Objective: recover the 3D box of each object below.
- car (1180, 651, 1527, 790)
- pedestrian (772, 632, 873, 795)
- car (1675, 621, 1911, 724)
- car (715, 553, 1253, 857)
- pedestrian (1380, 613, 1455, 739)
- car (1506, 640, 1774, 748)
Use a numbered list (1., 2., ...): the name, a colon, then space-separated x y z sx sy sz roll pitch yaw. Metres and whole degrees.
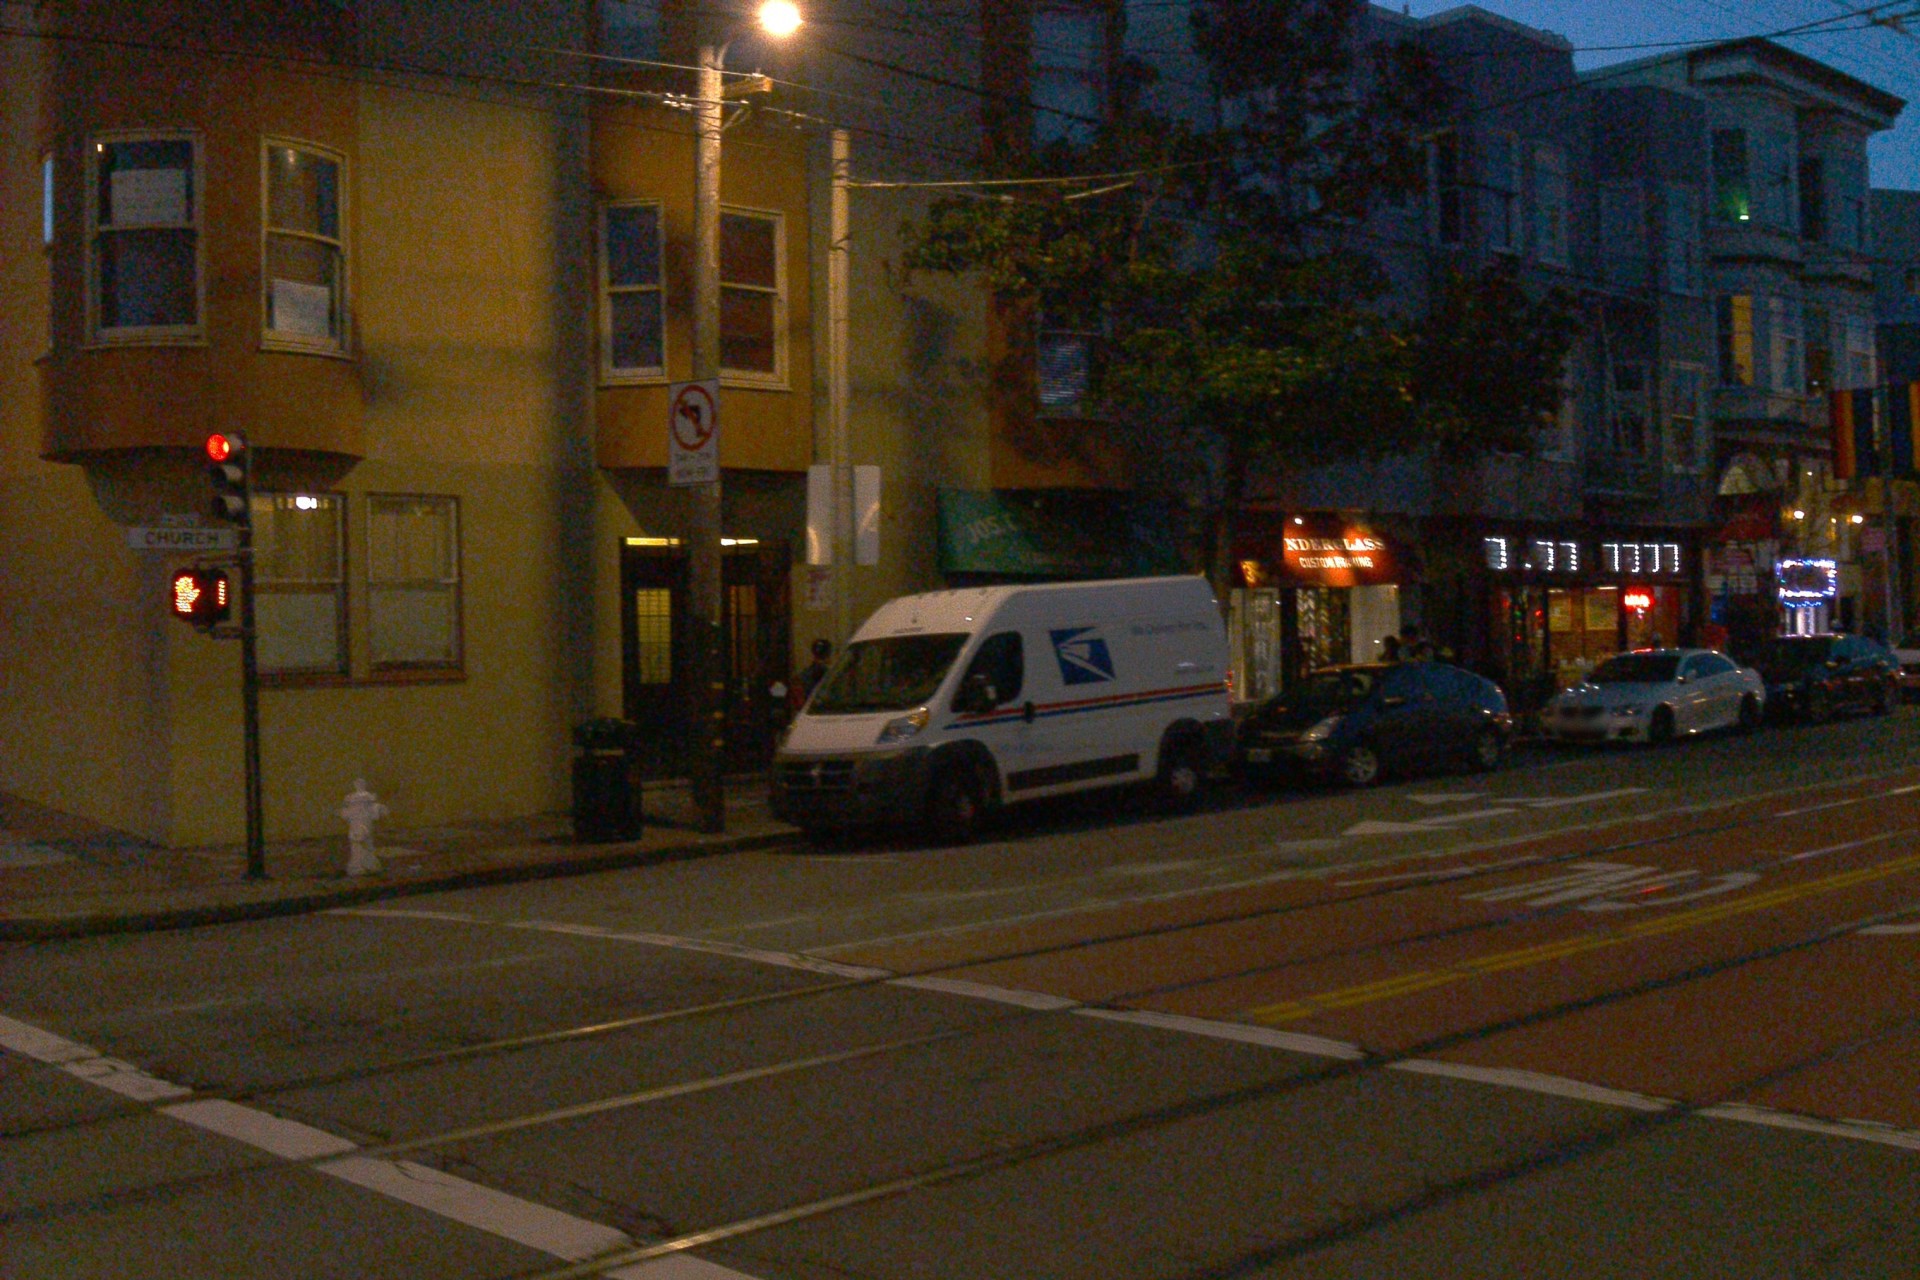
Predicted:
1. car: 5.010 0.936 25.954 4.511 1.520 2.027 -1 1 -44
2. pedestrian: -1.628 0.845 24.453 0.862 1.870 0.832 -1 1 -44
3. car: 14.056 0.487 34.719 4.680 1.610 1.937 -1 1 -44
4. car: 0.393 0.558 21.404 2.515 2.730 5.482 1 1 43
5. pedestrian: 6.909 0.533 31.174 0.895 1.870 0.727 -1 1 -44
6. car: 10.239 0.751 30.942 4.453 1.450 1.971 -1 1 -44
